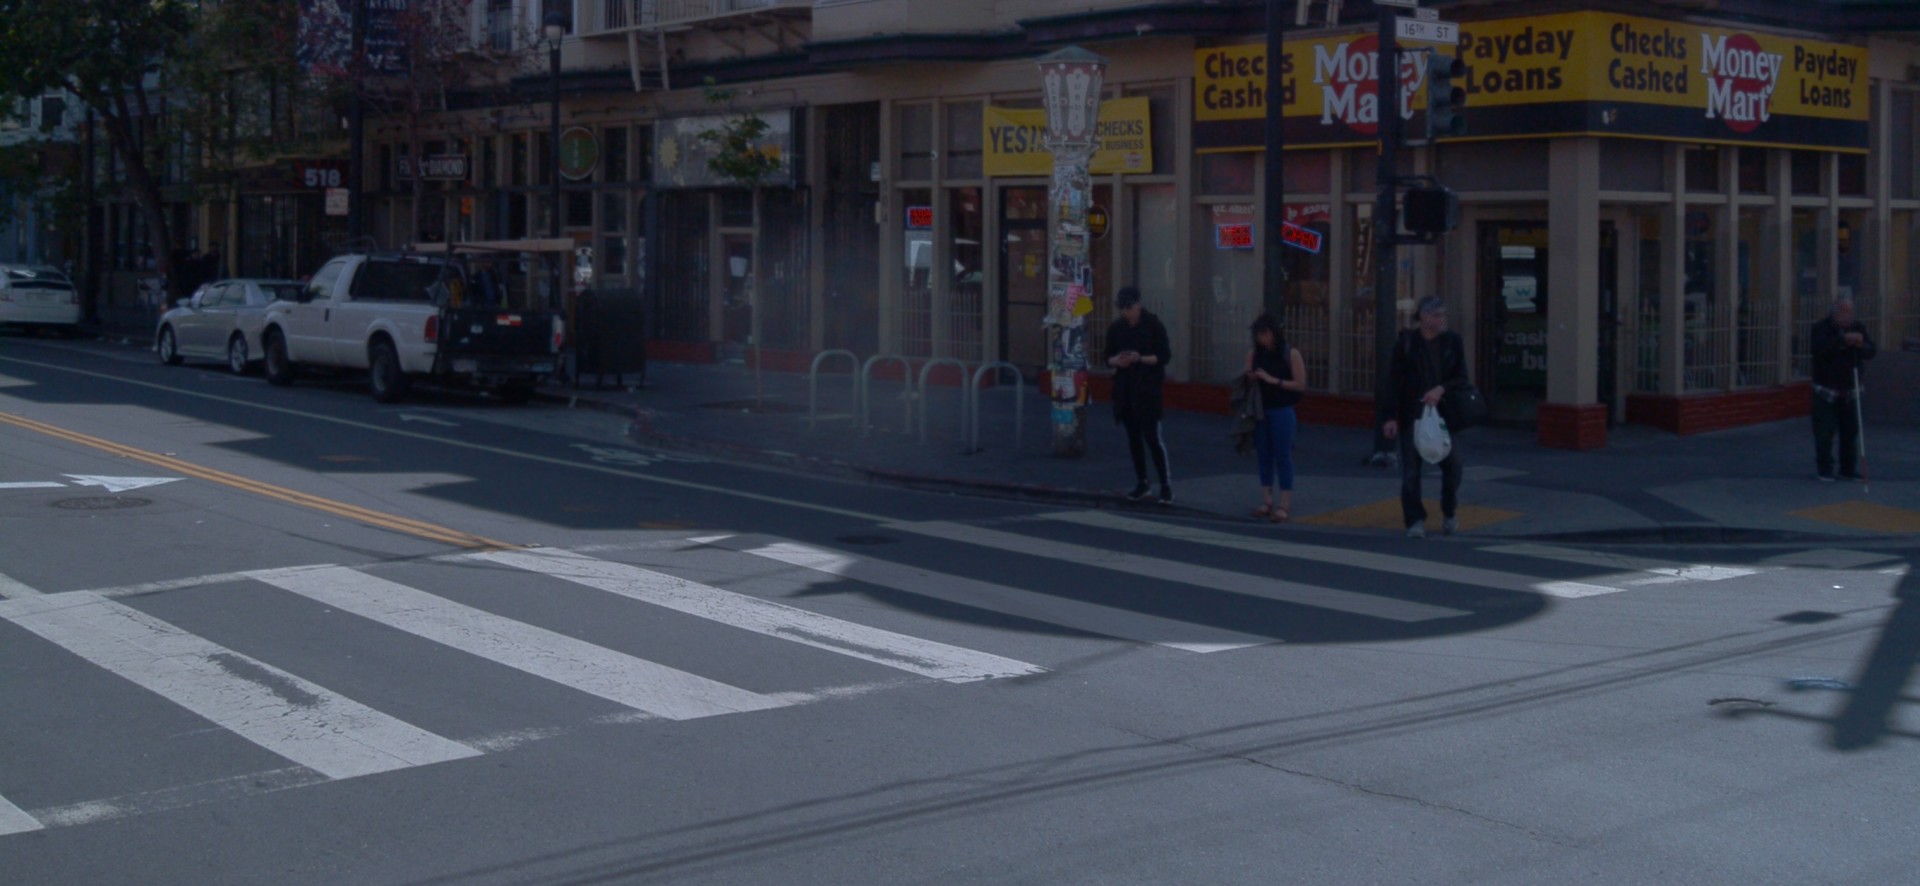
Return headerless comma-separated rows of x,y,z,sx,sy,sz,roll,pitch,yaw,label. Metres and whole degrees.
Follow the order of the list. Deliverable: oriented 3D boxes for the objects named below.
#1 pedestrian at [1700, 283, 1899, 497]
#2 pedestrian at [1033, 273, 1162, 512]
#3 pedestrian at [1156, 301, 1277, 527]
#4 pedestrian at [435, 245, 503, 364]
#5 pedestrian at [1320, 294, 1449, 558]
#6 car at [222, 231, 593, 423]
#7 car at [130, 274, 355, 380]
7.486,-0.516,18.376,1.003,1.789,1.329,-1,2,-24,pedestrian
1.149,-0.456,17.188,0.769,1.919,0.746,-1,1,-44,pedestrian
2.099,-0.267,16.770,0.696,1.749,0.934,0,1,28,pedestrian
-7.983,-2.271,33.394,0.713,1.889,1.020,-1,2,-39,pedestrian
3.256,-0.174,15.824,0.935,1.919,1.115,0,2,11,pedestrian
-7.554,-1.692,27.546,2.471,2.283,6.156,-3,6,-40,car
-11.203,-1.861,31.909,1.638,1.456,4.469,-3,6,-43,car
